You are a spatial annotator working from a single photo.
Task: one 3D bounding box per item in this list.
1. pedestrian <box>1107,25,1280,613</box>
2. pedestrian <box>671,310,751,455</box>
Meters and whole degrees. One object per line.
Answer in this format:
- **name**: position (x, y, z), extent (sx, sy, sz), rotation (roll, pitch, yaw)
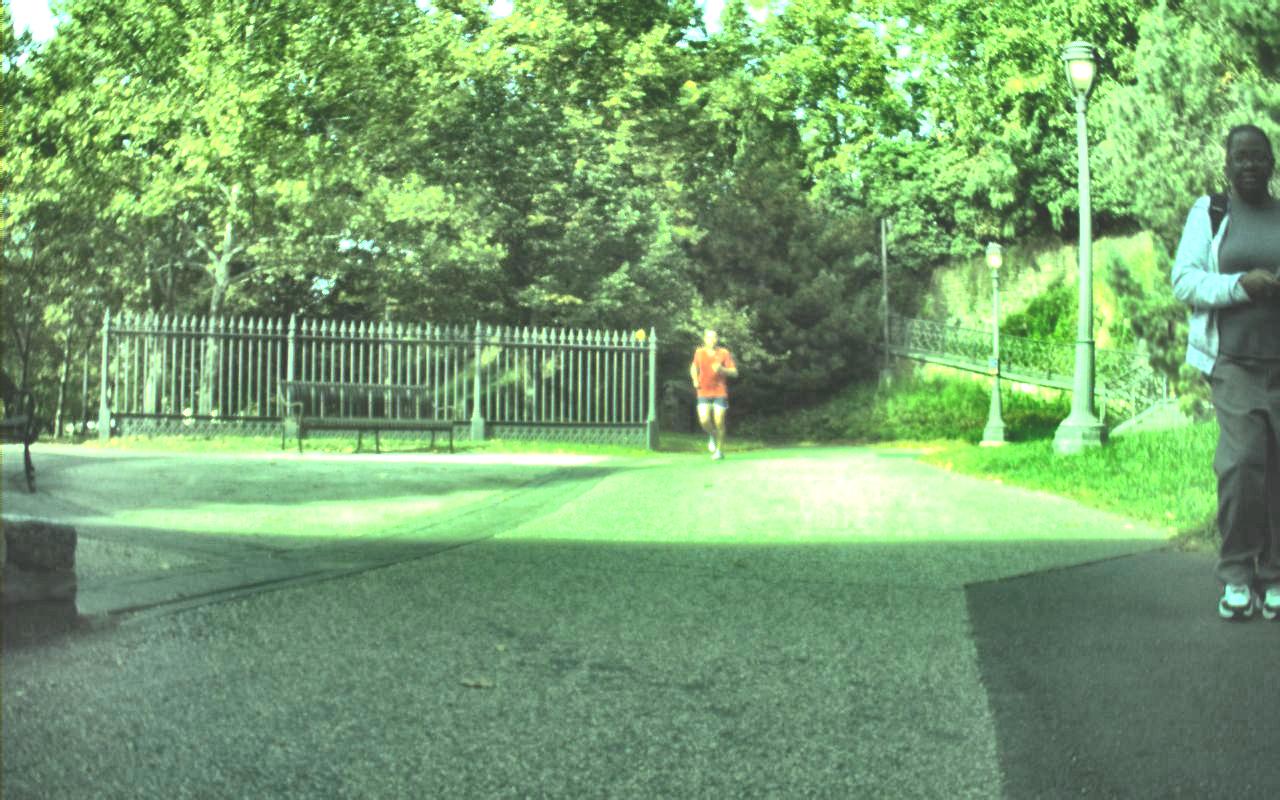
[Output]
- **pedestrian**: position (1.986, -0.244, 3.746), extent (0.771, 1.758, 0.819), rotation (0, 0, 10)
- **pedestrian**: position (0.959, -0.240, 16.884), extent (0.822, 1.869, 0.937), rotation (1, 0, 20)
